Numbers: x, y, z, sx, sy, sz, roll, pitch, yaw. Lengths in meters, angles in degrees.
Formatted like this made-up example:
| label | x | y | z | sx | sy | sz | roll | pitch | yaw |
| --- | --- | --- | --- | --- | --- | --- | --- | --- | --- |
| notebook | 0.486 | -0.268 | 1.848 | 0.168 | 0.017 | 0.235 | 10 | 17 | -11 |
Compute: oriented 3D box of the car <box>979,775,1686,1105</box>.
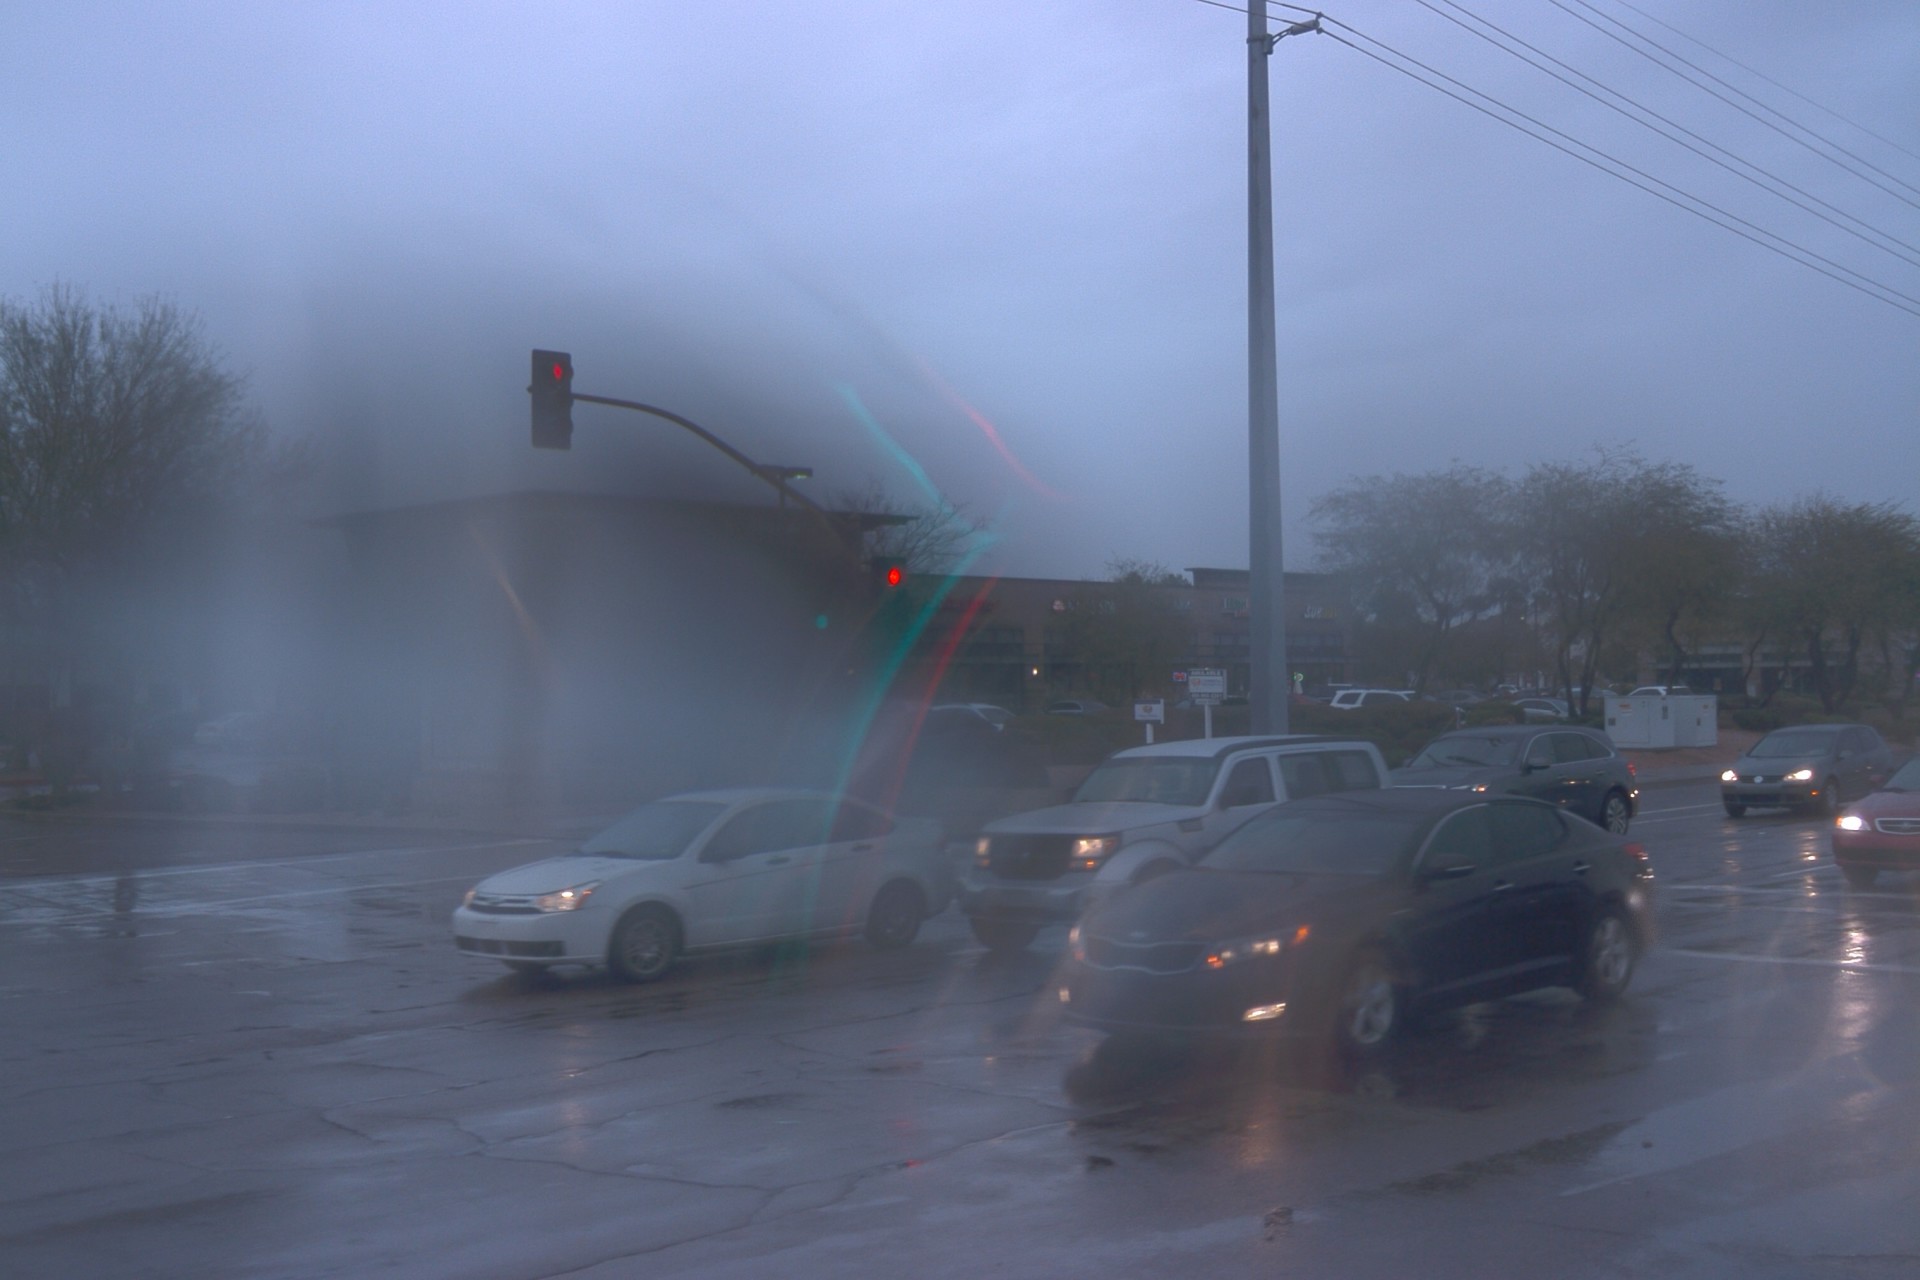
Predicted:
| label | x | y | z | sx | sy | sz | roll | pitch | yaw |
| --- | --- | --- | --- | --- | --- | --- | --- | --- | --- |
| car | 2.518 | 1.700 | 13.159 | 2.027 | 1.440 | 4.799 | -1 | -1 | 45 |

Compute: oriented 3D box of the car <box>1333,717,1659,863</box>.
| label | x | y | z | sx | sy | sz | roll | pitch | yaw |
| --- | --- | --- | --- | --- | --- | --- | --- | --- | --- |
| car | 7.337 | 1.949 | 28.256 | 2.170 | 1.670 | 4.841 | -1 | -1 | 44 |

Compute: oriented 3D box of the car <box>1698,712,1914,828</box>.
| label | x | y | z | sx | sy | sz | roll | pitch | yaw |
| --- | --- | --- | --- | --- | --- | --- | --- | --- | --- |
| car | 14.298 | 2.127 | 35.123 | 1.951 | 1.730 | 4.229 | -1 | -1 | 44 |

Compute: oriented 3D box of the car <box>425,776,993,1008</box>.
| label | x | y | z | sx | sy | sz | roll | pitch | yaw |
| --- | --- | --- | --- | --- | --- | --- | --- | --- | --- |
| car | -2.019 | 2.017 | 17.772 | 2.018 | 1.470 | 4.538 | -1 | -1 | 45 |

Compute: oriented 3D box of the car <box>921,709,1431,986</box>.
| label | x | y | z | sx | sy | sz | roll | pitch | yaw |
| --- | --- | --- | --- | --- | --- | --- | --- | --- | --- |
| car | 1.999 | 1.661 | 18.254 | 2.036 | 2.020 | 4.532 | -1 | -1 | 45 |
